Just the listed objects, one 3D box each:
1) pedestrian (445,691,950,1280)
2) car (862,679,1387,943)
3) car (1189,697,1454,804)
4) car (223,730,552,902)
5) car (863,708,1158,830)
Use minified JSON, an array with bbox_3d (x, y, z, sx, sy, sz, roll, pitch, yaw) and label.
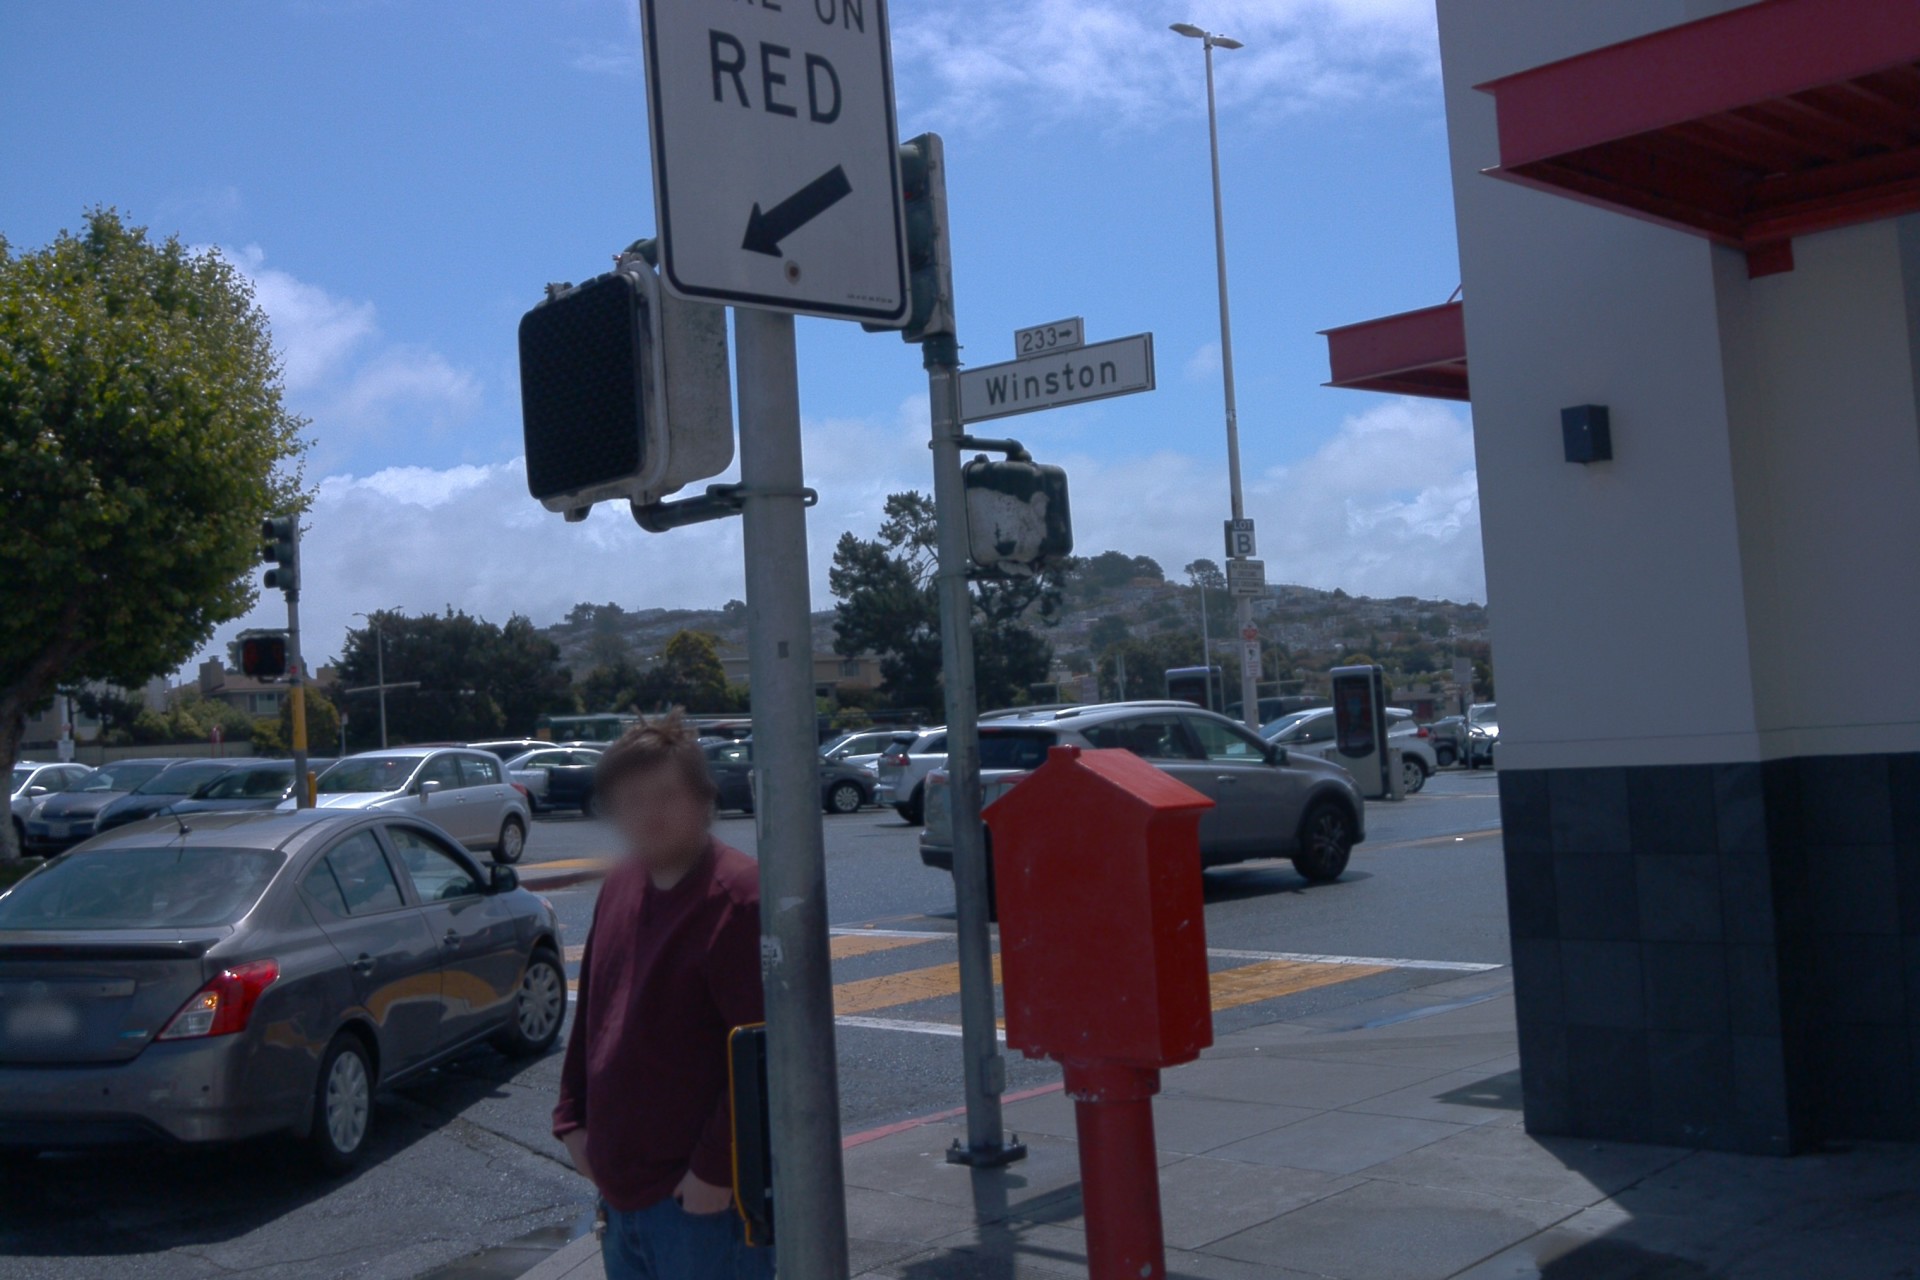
[{"bbox_3d":[-0.530,1.074,4.092,0.834,1.910,0.591,0,0,42],"label":"pedestrian"},{"bbox_3d":[1.547,1.361,18.171,4.486,1.900,2.142,-1,1,-43],"label":"car"},{"bbox_3d":[6.392,1.921,36.489,4.198,1.700,1.893,0,0,-16],"label":"car"},{"bbox_3d":[-7.000,2.094,25.636,1.980,1.700,4.255,0,1,17],"label":"car"},{"bbox_3d":[0.771,2.010,32.671,4.314,1.710,1.953,0,0,-14],"label":"car"}]
